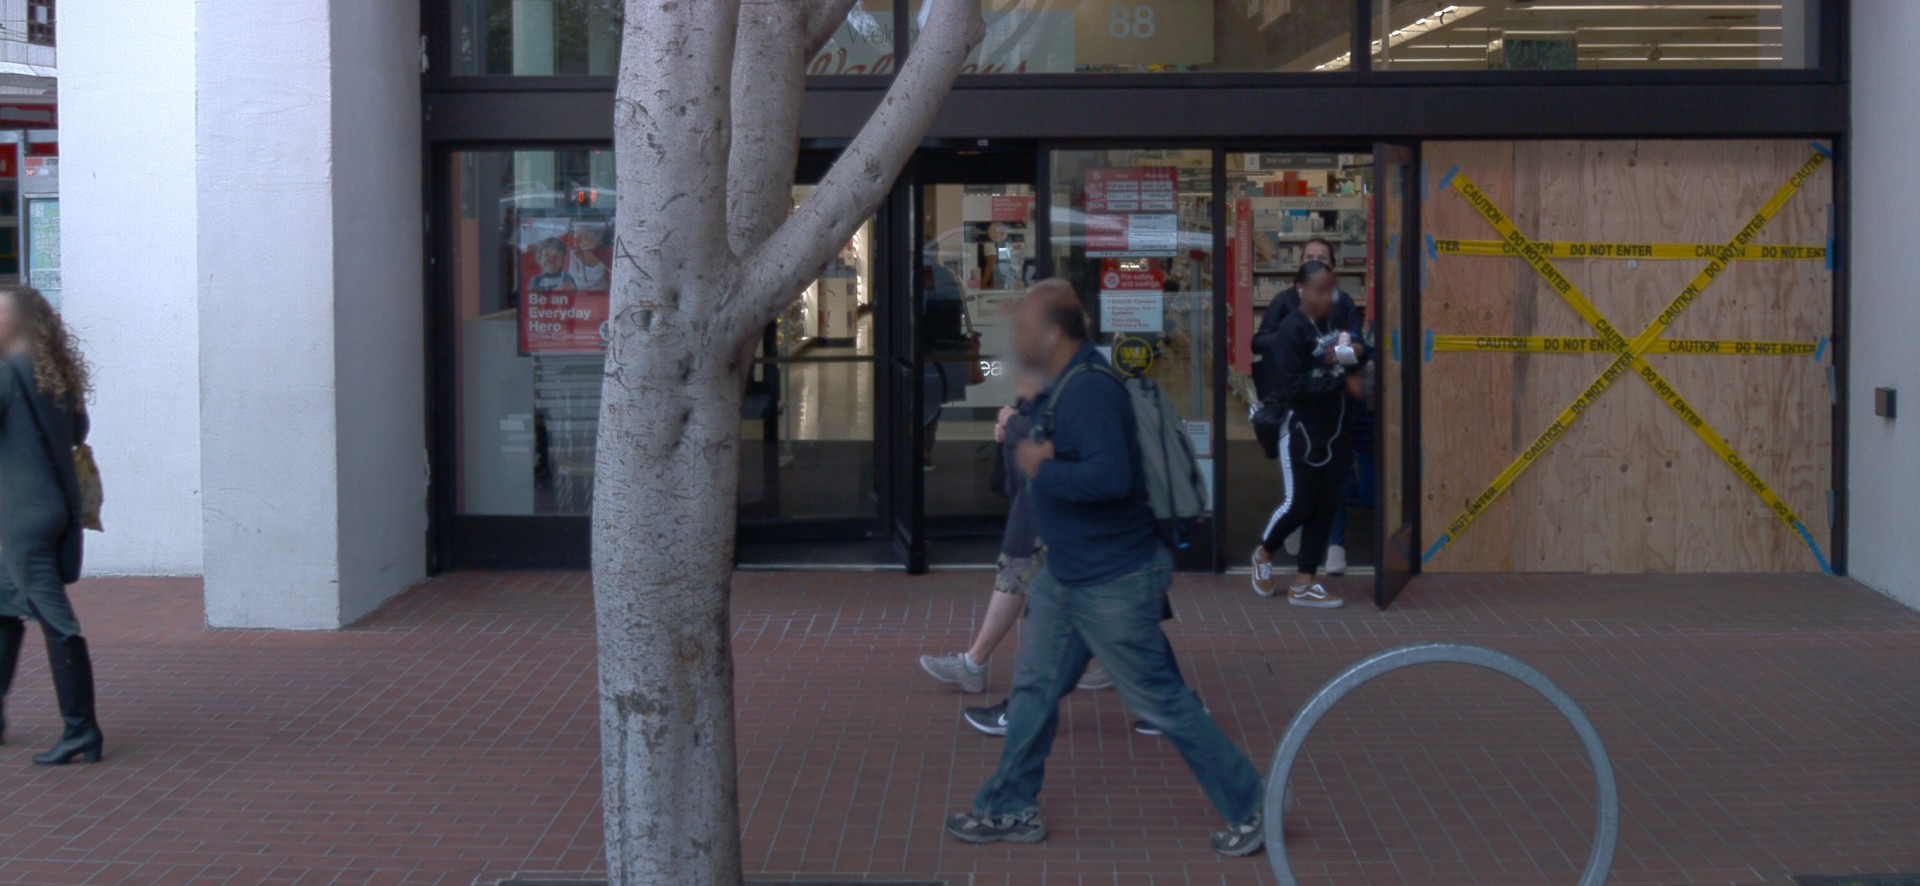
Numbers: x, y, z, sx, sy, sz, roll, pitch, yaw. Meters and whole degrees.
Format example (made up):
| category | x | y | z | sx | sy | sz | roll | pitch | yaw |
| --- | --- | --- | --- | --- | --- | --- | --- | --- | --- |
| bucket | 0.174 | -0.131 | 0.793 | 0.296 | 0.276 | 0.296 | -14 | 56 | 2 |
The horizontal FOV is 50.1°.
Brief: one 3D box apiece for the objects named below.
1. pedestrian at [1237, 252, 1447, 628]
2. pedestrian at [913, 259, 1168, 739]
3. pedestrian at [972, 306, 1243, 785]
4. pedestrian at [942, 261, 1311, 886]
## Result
| category | x | y | z | sx | sy | sz | roll | pitch | yaw |
| --- | --- | --- | --- | --- | --- | --- | --- | --- | --- |
| pedestrian | 1.735 | -0.048 | 9.434 | 0.865 | 1.655 | 0.696 | 0 | 1 | 3 |
| pedestrian | 0.286 | 0.168 | 7.751 | 0.915 | 1.715 | 0.743 | 0 | 1 | -1 |
| pedestrian | 0.500 | 0.312 | 7.189 | 0.893 | 1.555 | 0.782 | 0 | 1 | 2 |
| pedestrian | 0.450 | 0.362 | 5.999 | 1.004 | 1.775 | 0.835 | 0 | 1 | -1 |
